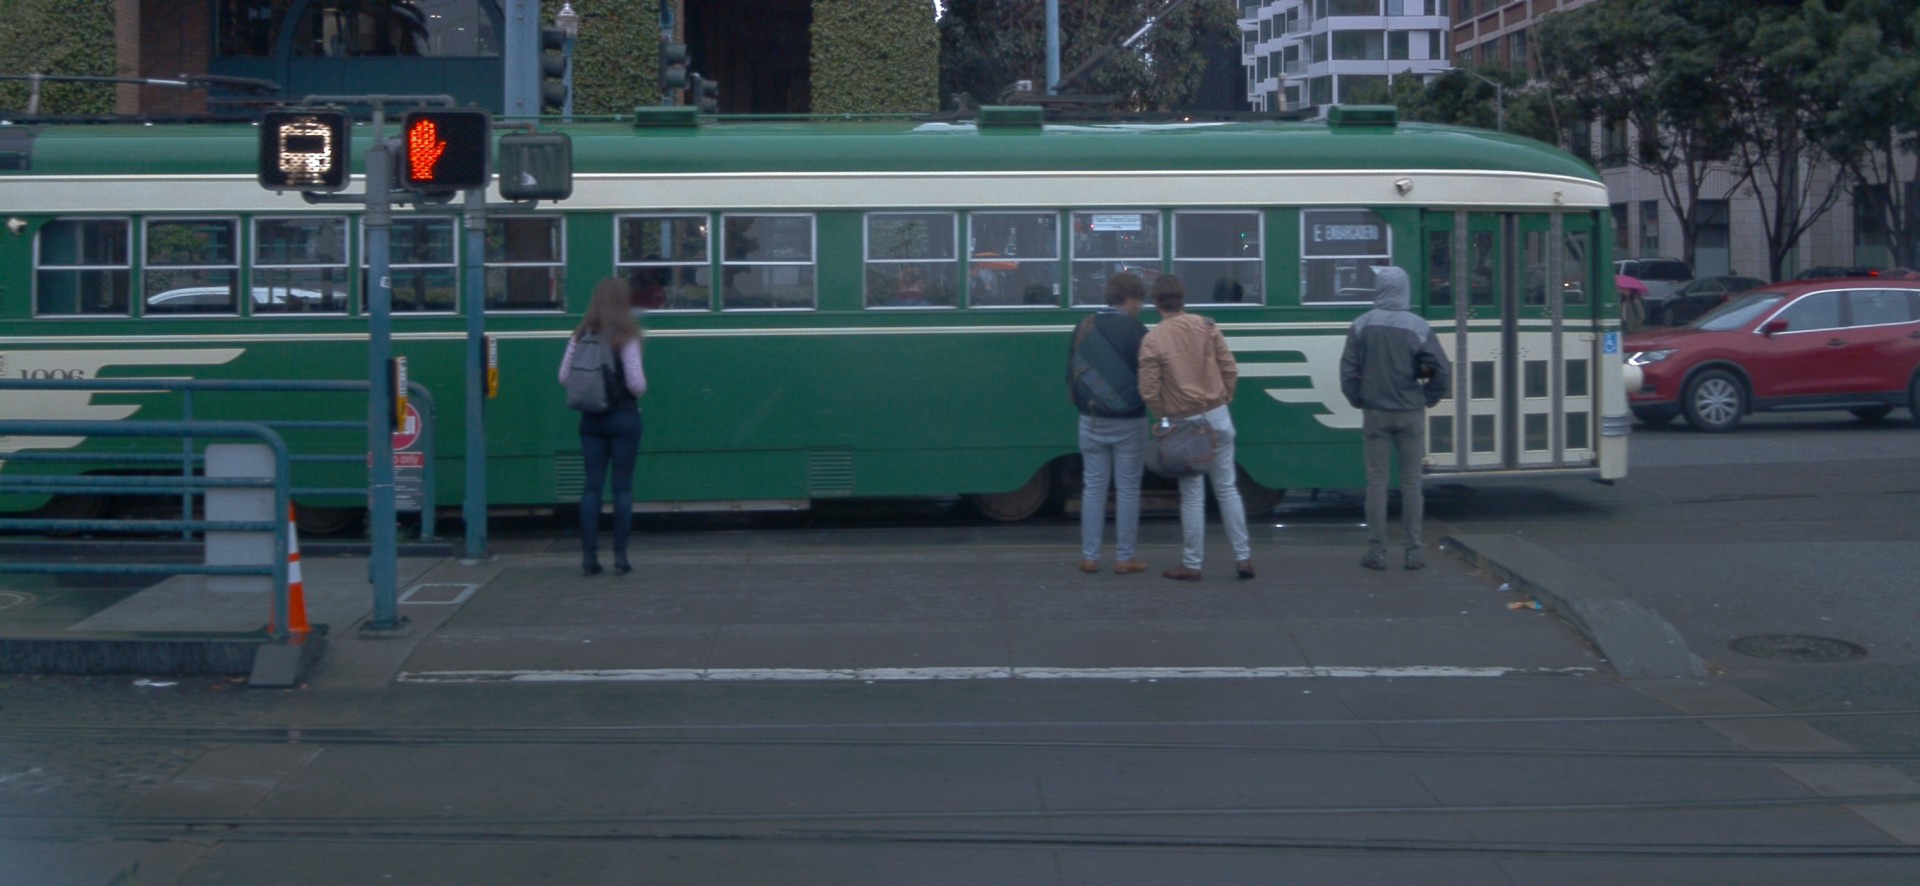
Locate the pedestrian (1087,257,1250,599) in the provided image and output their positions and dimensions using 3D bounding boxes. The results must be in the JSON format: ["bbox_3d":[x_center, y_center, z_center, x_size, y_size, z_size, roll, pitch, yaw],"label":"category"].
[{"bbox_3d":[1.208,-0.123,12.170,0.866,1.920,0.864,0,1,0],"label":"pedestrian"}]

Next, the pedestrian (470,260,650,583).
[{"bbox_3d":[-2.375,-0.165,12.404,0.841,1.840,0.844,0,1,6],"label":"pedestrian"}]

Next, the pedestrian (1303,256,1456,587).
[{"bbox_3d":[2.533,-0.170,12.612,0.866,1.920,0.864,0,1,9],"label":"pedestrian"}]

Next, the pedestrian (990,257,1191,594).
[{"bbox_3d":[0.788,-0.154,12.502,0.885,1.920,0.819,-1,1,-42],"label":"pedestrian"}]

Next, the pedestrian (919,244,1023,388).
[{"bbox_3d":[0.161,-1.918,30.964,1.181,2.079,1.002,-1,2,-36],"label":"pedestrian"}]

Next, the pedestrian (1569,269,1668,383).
[{"bbox_3d":[10.792,-1.936,34.019,1.186,1.799,1.003,0,2,-18],"label":"pedestrian"}]
